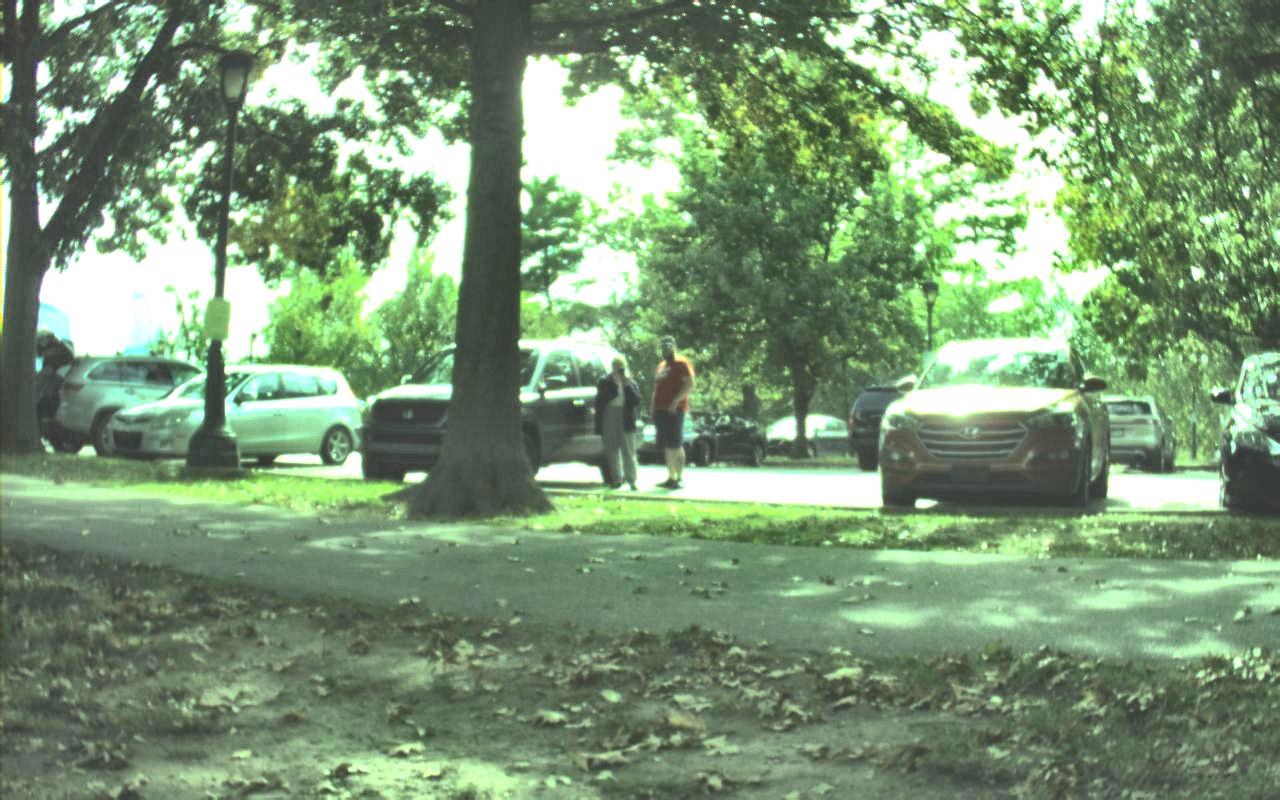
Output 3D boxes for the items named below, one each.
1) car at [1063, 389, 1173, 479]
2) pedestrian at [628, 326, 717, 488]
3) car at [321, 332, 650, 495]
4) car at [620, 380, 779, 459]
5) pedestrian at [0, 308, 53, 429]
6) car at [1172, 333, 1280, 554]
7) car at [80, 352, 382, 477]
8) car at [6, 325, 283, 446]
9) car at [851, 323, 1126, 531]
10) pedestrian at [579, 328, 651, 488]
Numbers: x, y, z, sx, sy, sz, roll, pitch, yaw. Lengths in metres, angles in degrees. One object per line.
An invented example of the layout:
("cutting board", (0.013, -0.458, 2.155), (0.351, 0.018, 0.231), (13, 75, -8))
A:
("car", (10.264, 0.692, 25.424), (1.968, 1.688, 4.486), (1, 1, 28))
("pedestrian", (0.391, 0.070, 15.114), (0.766, 1.869, 0.759), (1, 0, 31))
("car", (-1.651, 0.080, 14.847), (1.958, 1.620, 4.448), (1, 1, 23))
("car", (1.528, 0.394, 30.592), (1.953, 1.706, 4.513), (1, 1, 30))
("pedestrian", (-9.893, -0.445, 17.981), (0.968, 1.880, 0.890), (0, 0, -37))
("car", (6.019, 0.305, 9.992), (1.944, 1.593, 4.464), (1, 1, 34))
("car", (-6.043, 0.161, 18.012), (1.944, 1.639, 4.599), (1, 1, 30))
("car", (-8.263, -0.220, 19.563), (1.978, 1.822, 4.559), (1, 1, 40))
("car", (3.596, 0.171, 11.844), (1.964, 1.633, 4.491), (1, 1, 26))
("pedestrian", (-0.303, 0.082, 14.762), (0.774, 1.815, 0.756), (0, 0, -5))
